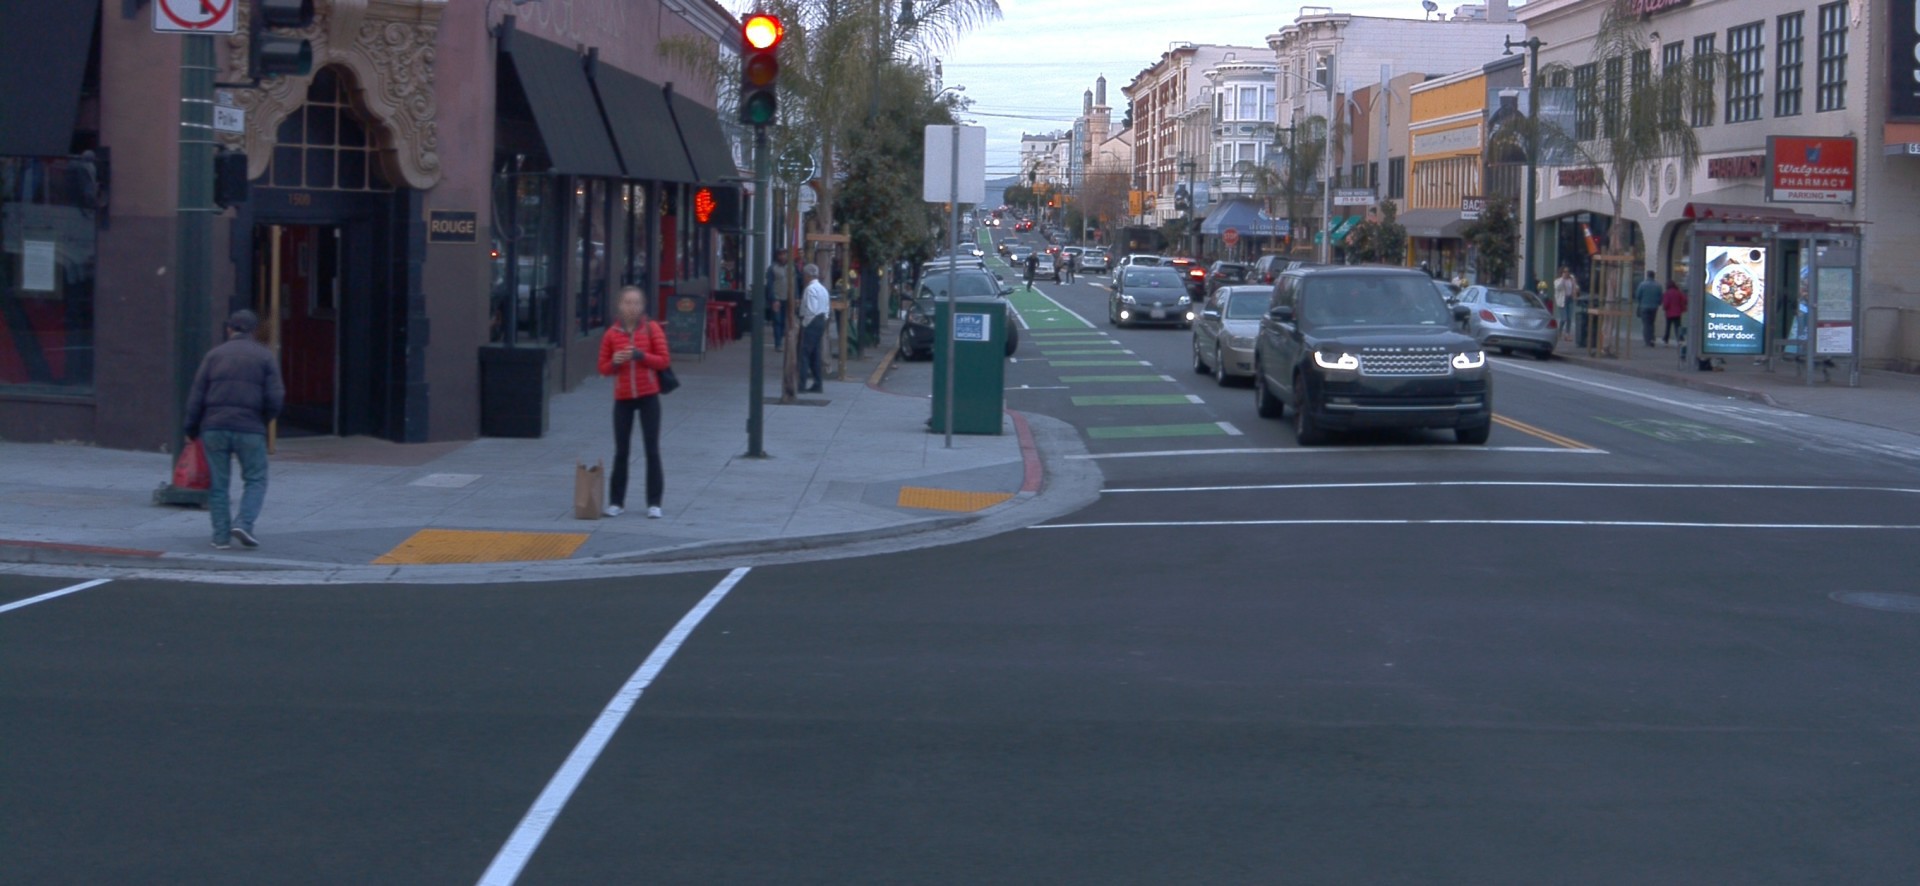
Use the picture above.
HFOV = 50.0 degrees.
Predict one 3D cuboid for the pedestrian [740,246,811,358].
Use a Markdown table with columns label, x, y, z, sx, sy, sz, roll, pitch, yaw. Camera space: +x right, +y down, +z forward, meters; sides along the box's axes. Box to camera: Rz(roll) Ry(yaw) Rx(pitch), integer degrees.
| label | x | y | z | sx | sy | sz | roll | pitch | yaw |
| --- | --- | --- | --- | --- | --- | --- | --- | --- | --- |
| pedestrian | -3.206 | -2.467 | 35.733 | 1.012 | 1.895 | 0.914 | -1 | 3 | -21 |

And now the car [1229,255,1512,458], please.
| label | x | y | z | sx | sy | sz | roll | pitch | yaw |
| --- | --- | --- | --- | --- | --- | --- | --- | --- | --- |
| car | 4.414 | -1.096 | 23.036 | 2.217 | 1.880 | 5.219 | 0 | 6 | 1 |

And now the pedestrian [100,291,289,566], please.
| label | x | y | z | sx | sy | sz | roll | pitch | yaw |
| --- | --- | --- | --- | --- | --- | --- | --- | --- | --- |
| pedestrian | -4.949 | -0.123 | 13.370 | 0.853 | 1.676 | 0.921 | 0 | 3 | 2 |

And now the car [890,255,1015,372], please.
| label | x | y | z | sx | sy | sz | roll | pitch | yaw |
| --- | --- | --- | --- | --- | --- | --- | --- | --- | --- |
| car | -0.143 | -2.478 | 38.250 | 2.175 | 1.910 | 4.799 | 0 | 6 | -1 |

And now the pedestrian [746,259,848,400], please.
| label | x | y | z | sx | sy | sz | roll | pitch | yaw |
| --- | --- | --- | --- | --- | --- | --- | --- | --- | --- |
| pedestrian | -2.092 | -1.485 | 26.544 | 0.881 | 1.726 | 1.029 | 2 | 3 | 30 |

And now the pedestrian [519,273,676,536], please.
| label | x | y | z | sx | sy | sz | roll | pitch | yaw |
| --- | --- | --- | --- | --- | --- | --- | --- | --- | --- |
| pedestrian | -2.688 | -0.312 | 15.376 | 1.068 | 1.874 | 0.867 | 0 | 2 | -4 |

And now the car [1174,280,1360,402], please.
| label | x | y | z | sx | sy | sz | roll | pitch | yaw |
| --- | --- | --- | --- | --- | --- | --- | --- | --- | --- |
| car | 4.426 | -1.582 | 30.445 | 2.077 | 1.472 | 4.880 | 0 | 6 | 1 |
